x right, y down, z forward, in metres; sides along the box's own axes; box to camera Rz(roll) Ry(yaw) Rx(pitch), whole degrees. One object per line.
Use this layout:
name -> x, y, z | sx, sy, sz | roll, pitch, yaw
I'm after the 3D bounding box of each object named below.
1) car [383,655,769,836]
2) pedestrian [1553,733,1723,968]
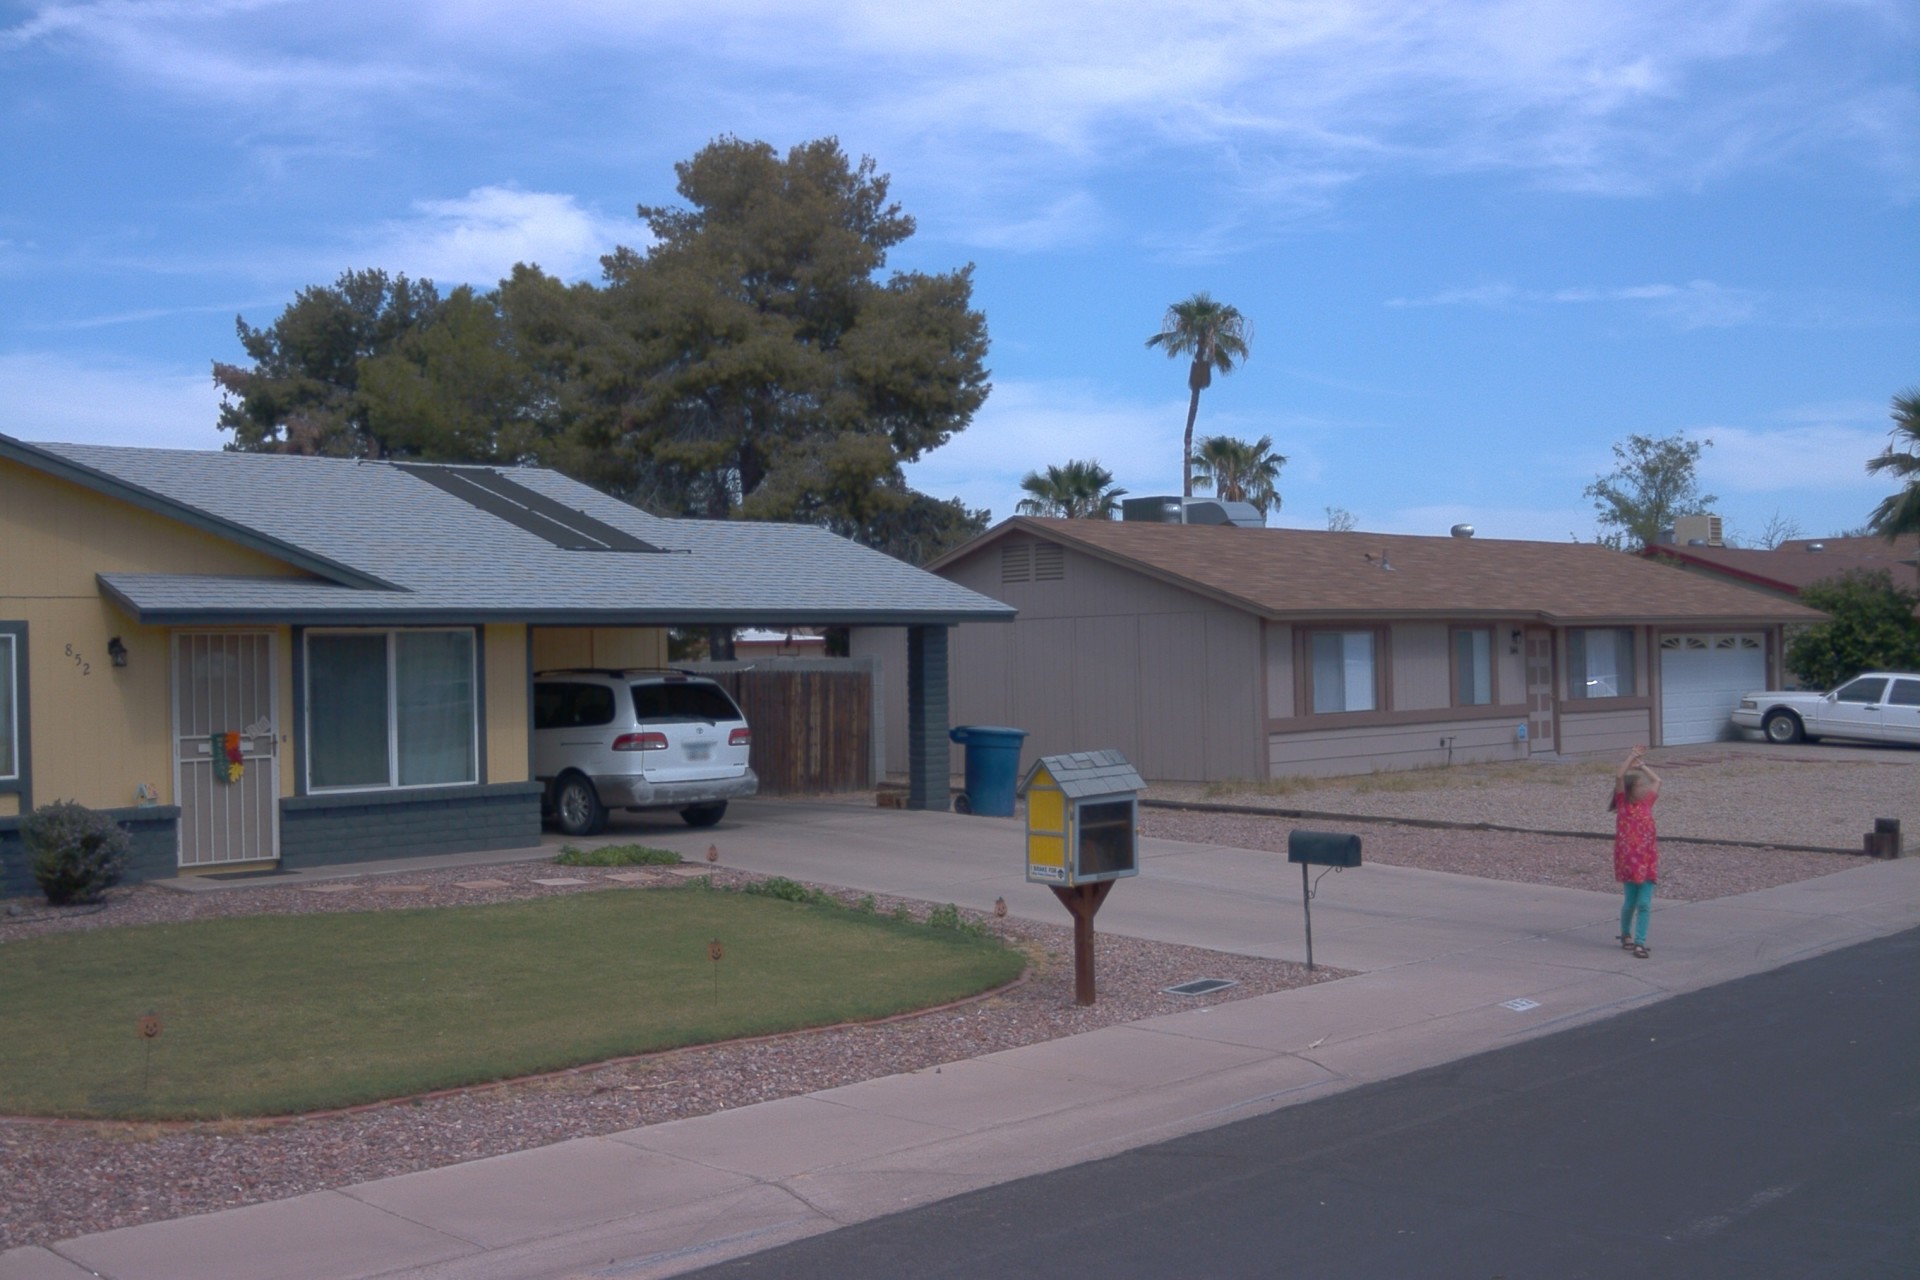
car -> -4.256, 1.067, 22.784 | 4.247, 1.790, 1.856 | 0, 0, 40
pedestrian -> 4.843, 1.482, 14.959 | 1.018, 1.580, 0.960 | 0, 0, 9
